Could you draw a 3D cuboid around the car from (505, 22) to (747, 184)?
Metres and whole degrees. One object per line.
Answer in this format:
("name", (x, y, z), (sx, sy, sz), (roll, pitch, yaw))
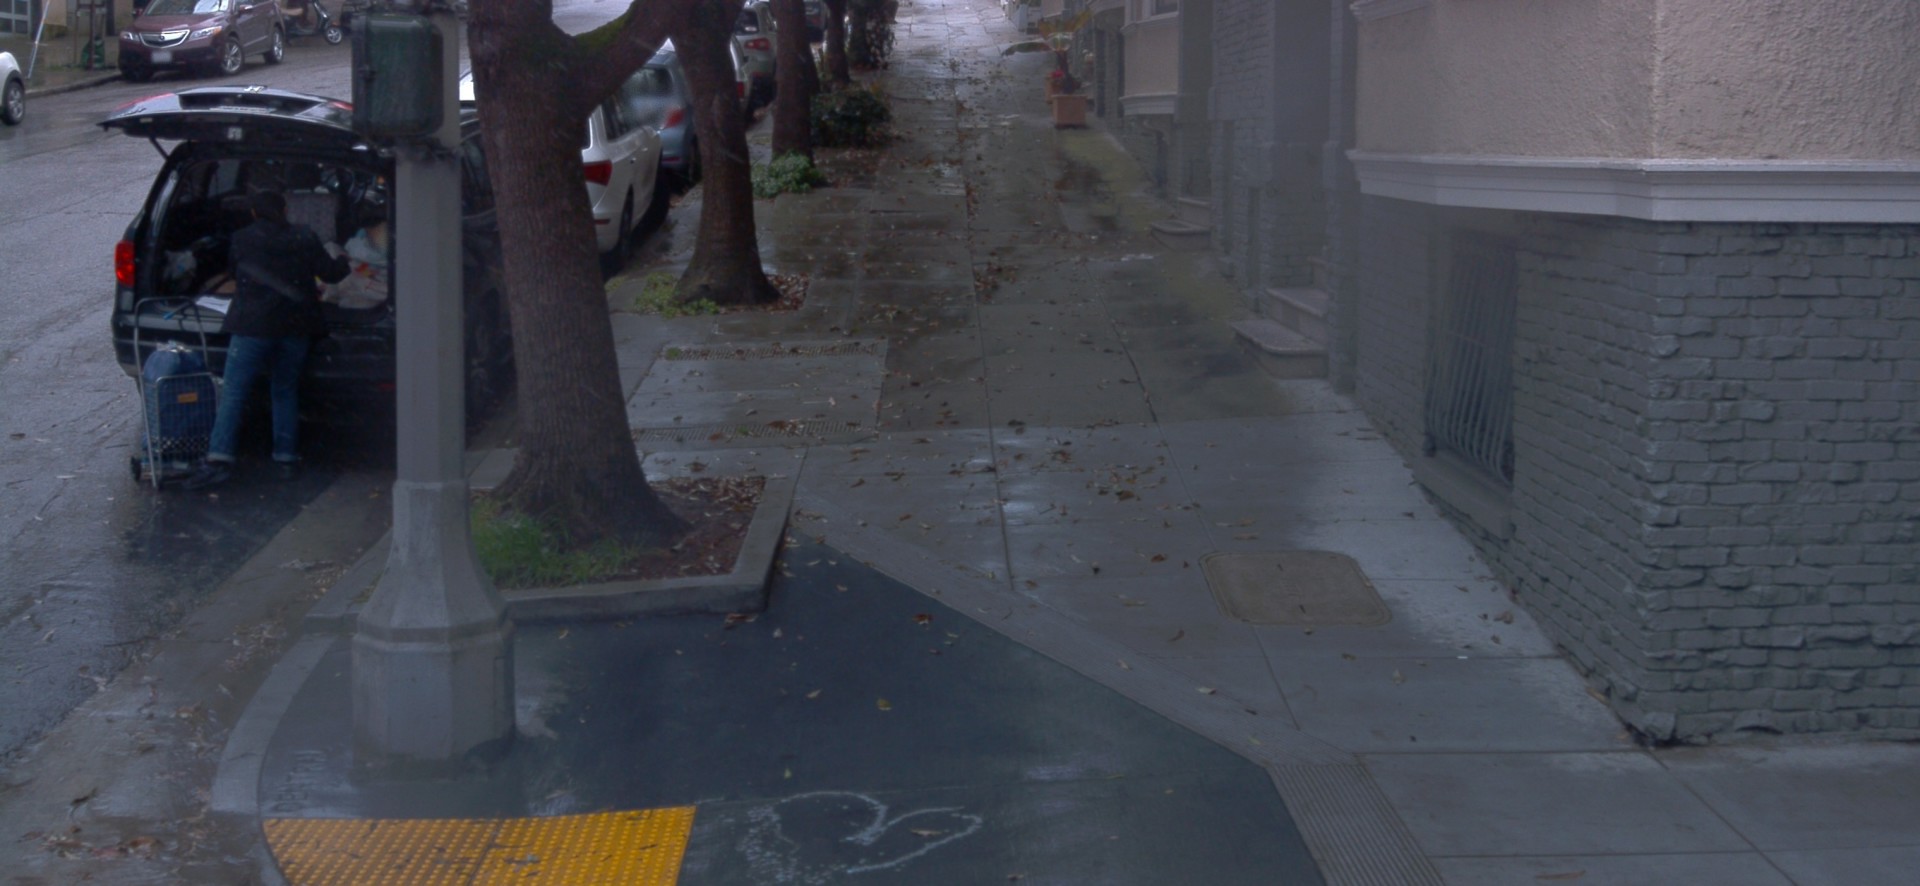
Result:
("car", (-3.830, -3.943, 24.270), (2.103, 1.604, 4.561), (0, 5, 0))

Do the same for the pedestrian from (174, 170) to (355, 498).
("pedestrian", (-3.674, -0.599, 10.771), (0.793, 1.633, 0.886), (0, 2, -26))

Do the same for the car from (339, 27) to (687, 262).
("car", (-3.863, -2.603, 18.608), (2.348, 1.833, 4.711), (0, 5, -3))
